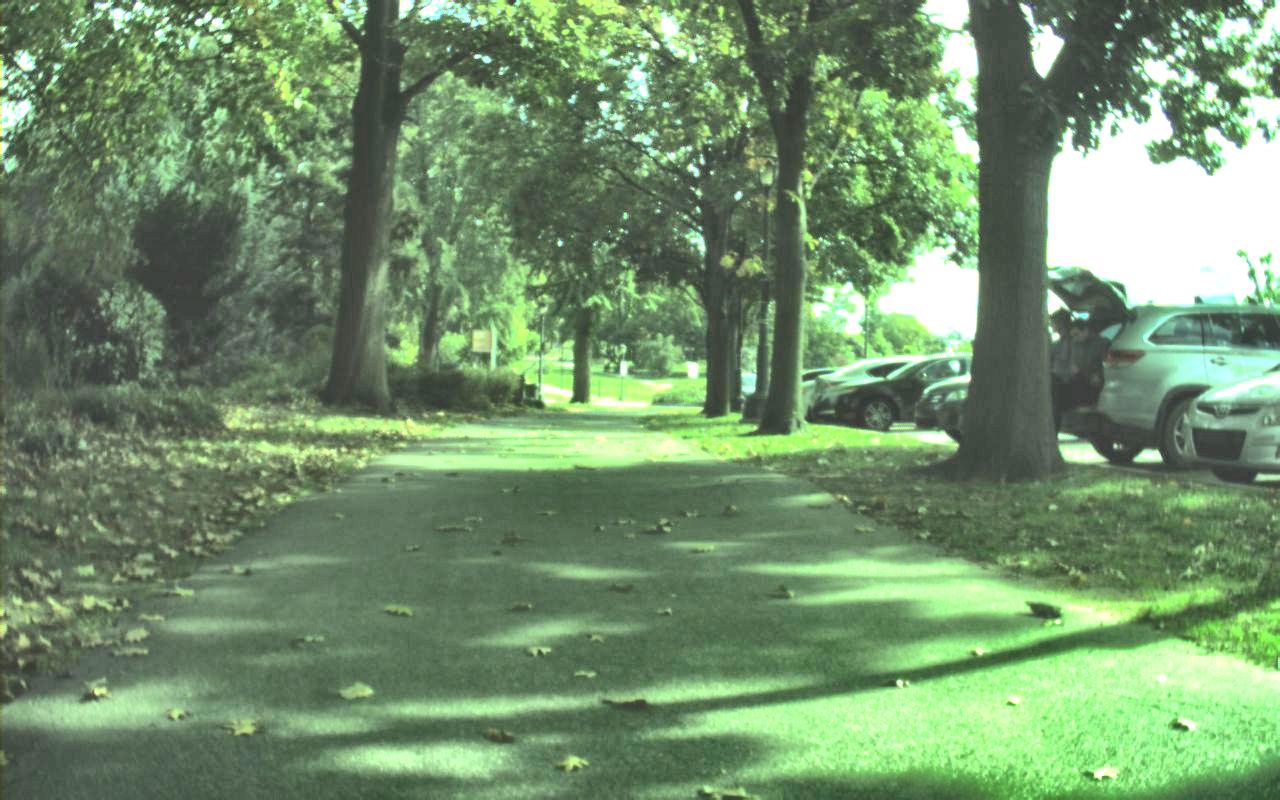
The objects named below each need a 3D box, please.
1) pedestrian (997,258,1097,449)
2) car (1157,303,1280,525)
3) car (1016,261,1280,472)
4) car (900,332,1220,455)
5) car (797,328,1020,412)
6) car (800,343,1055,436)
[{"bbox_3d":[4.126,-0.452,12.383,0.961,1.880,0.897,1,0,12],"label":"pedestrian"},{"bbox_3d":[6.699,0.108,9.334,4.451,1.582,1.960,0,1,-11],"label":"car"},{"bbox_3d":[6.339,-0.302,12.216,4.543,1.946,2.028,0,1,-3],"label":"car"},{"bbox_3d":[6.074,-0.091,17.432,4.400,1.605,1.955,0,1,-7],"label":"car"},{"bbox_3d":[5.656,-0.607,26.421,4.411,1.680,1.961,0,1,-6],"label":"car"},{"bbox_3d":[5.347,-0.189,23.227,4.455,1.616,1.977,0,1,-4],"label":"car"}]
